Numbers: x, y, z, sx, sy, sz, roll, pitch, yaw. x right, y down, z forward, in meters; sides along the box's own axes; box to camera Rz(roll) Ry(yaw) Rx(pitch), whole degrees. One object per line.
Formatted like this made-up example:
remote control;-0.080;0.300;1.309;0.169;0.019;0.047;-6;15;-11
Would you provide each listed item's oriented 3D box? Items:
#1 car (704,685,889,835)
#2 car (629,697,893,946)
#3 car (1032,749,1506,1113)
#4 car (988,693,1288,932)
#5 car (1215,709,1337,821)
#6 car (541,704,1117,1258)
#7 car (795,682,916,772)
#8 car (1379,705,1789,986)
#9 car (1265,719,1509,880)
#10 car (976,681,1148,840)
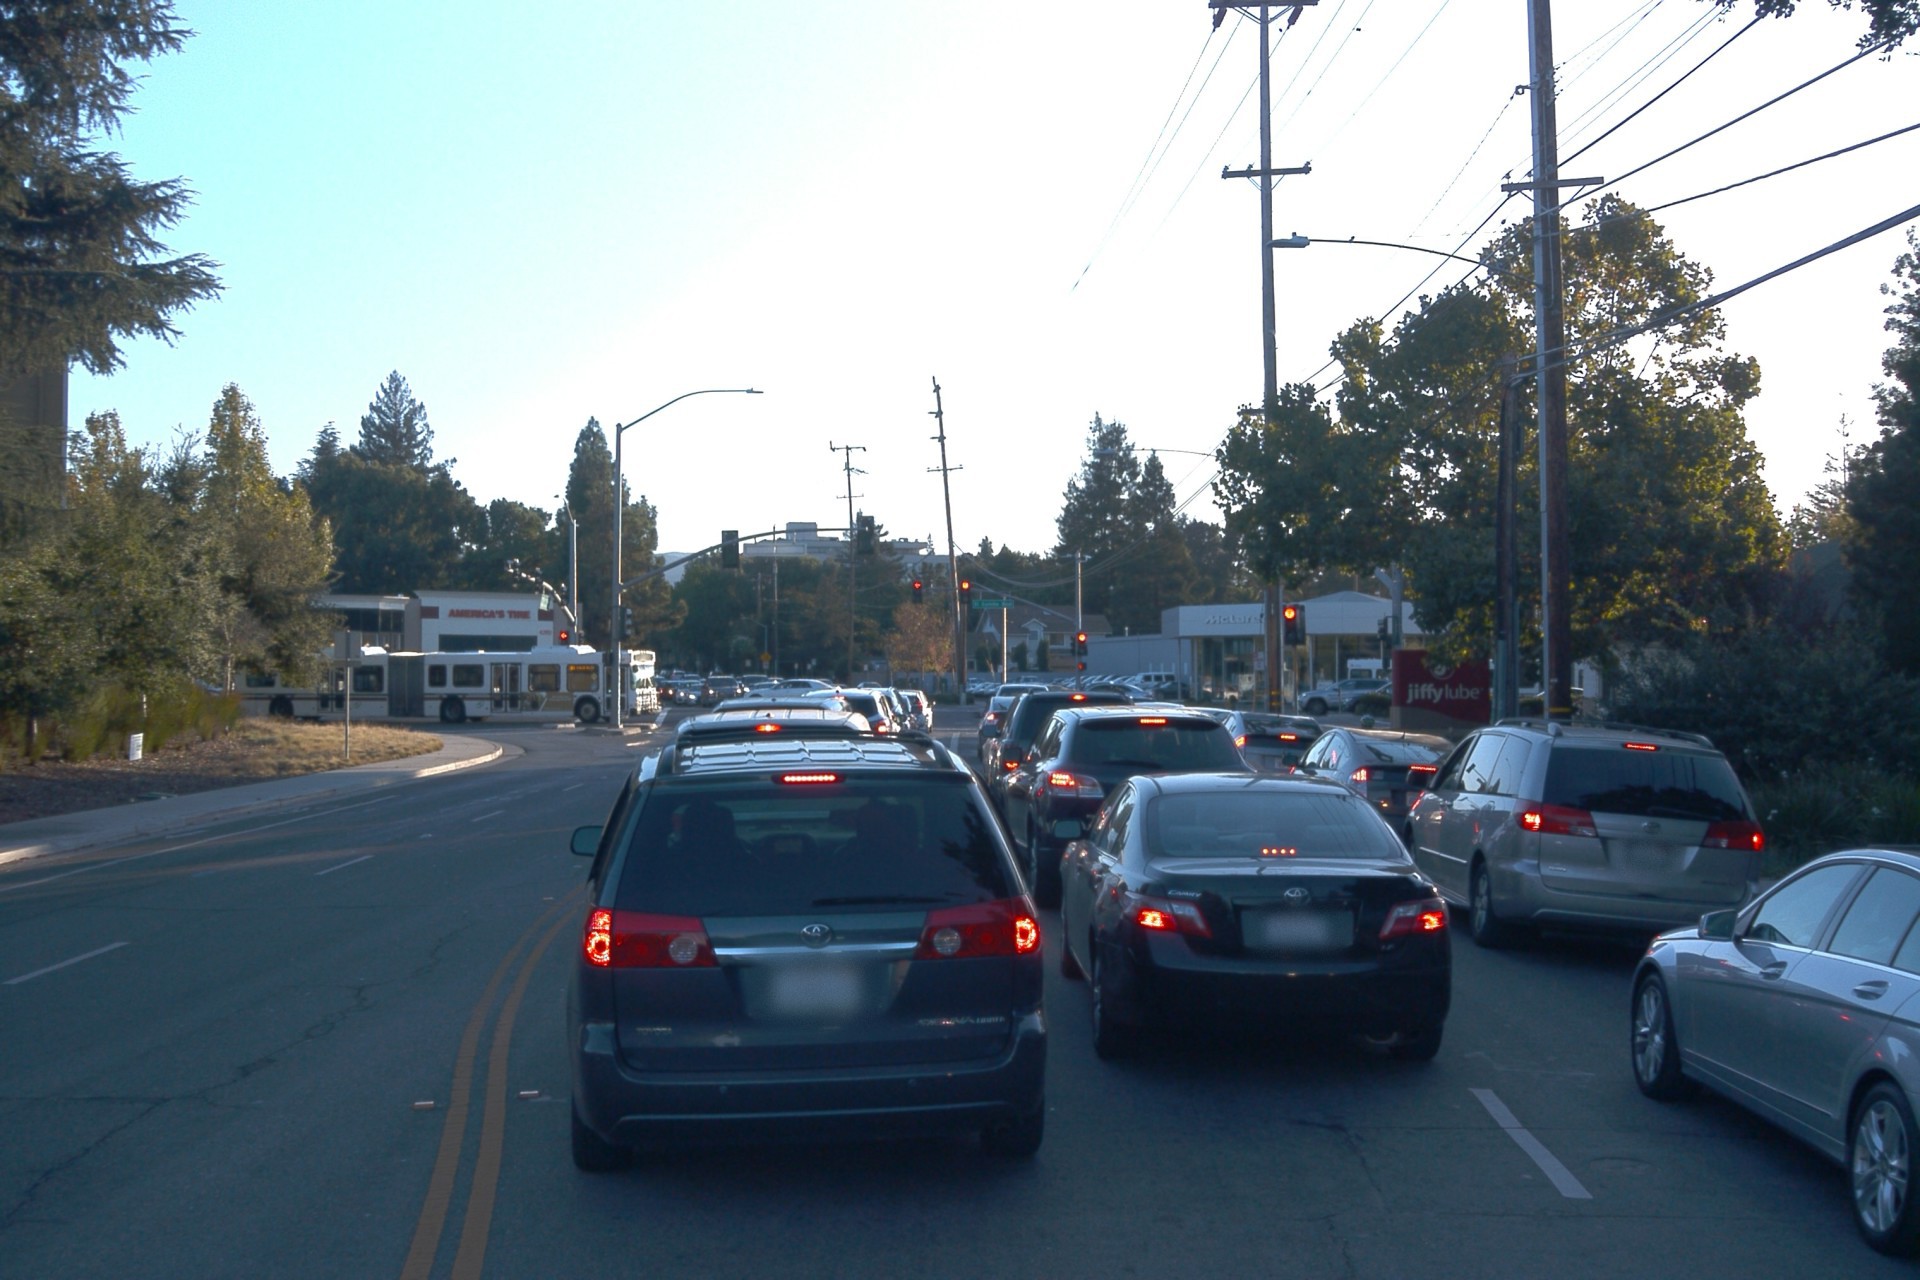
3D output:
car;-1.859;1.358;24.689;1.760;1.570;3.956;0;0;2
car;-1.444;1.308;16.310;1.812;1.620;4.042;0;0;-2
car;1.530;1.480;11.984;1.915;1.490;4.528;0;0;-2
car;1.460;1.436;18.853;1.992;1.810;4.553;0;0;-5
car;4.673;1.827;30.936;1.418;1.490;3.138;0;0;2
car;-0.874;1.306;10.246;2.102;1.830;5.461;0;0;-9
car;-1.657;1.385;33.820;1.709;1.350;3.337;0;0;2
car;4.905;1.527;17.102;2.061;1.850;4.903;0;0;2
car;4.679;1.714;23.274;1.785;1.510;4.026;0;0;-2
car;1.189;1.420;25.826;1.759;1.770;3.957;0;0;-3
